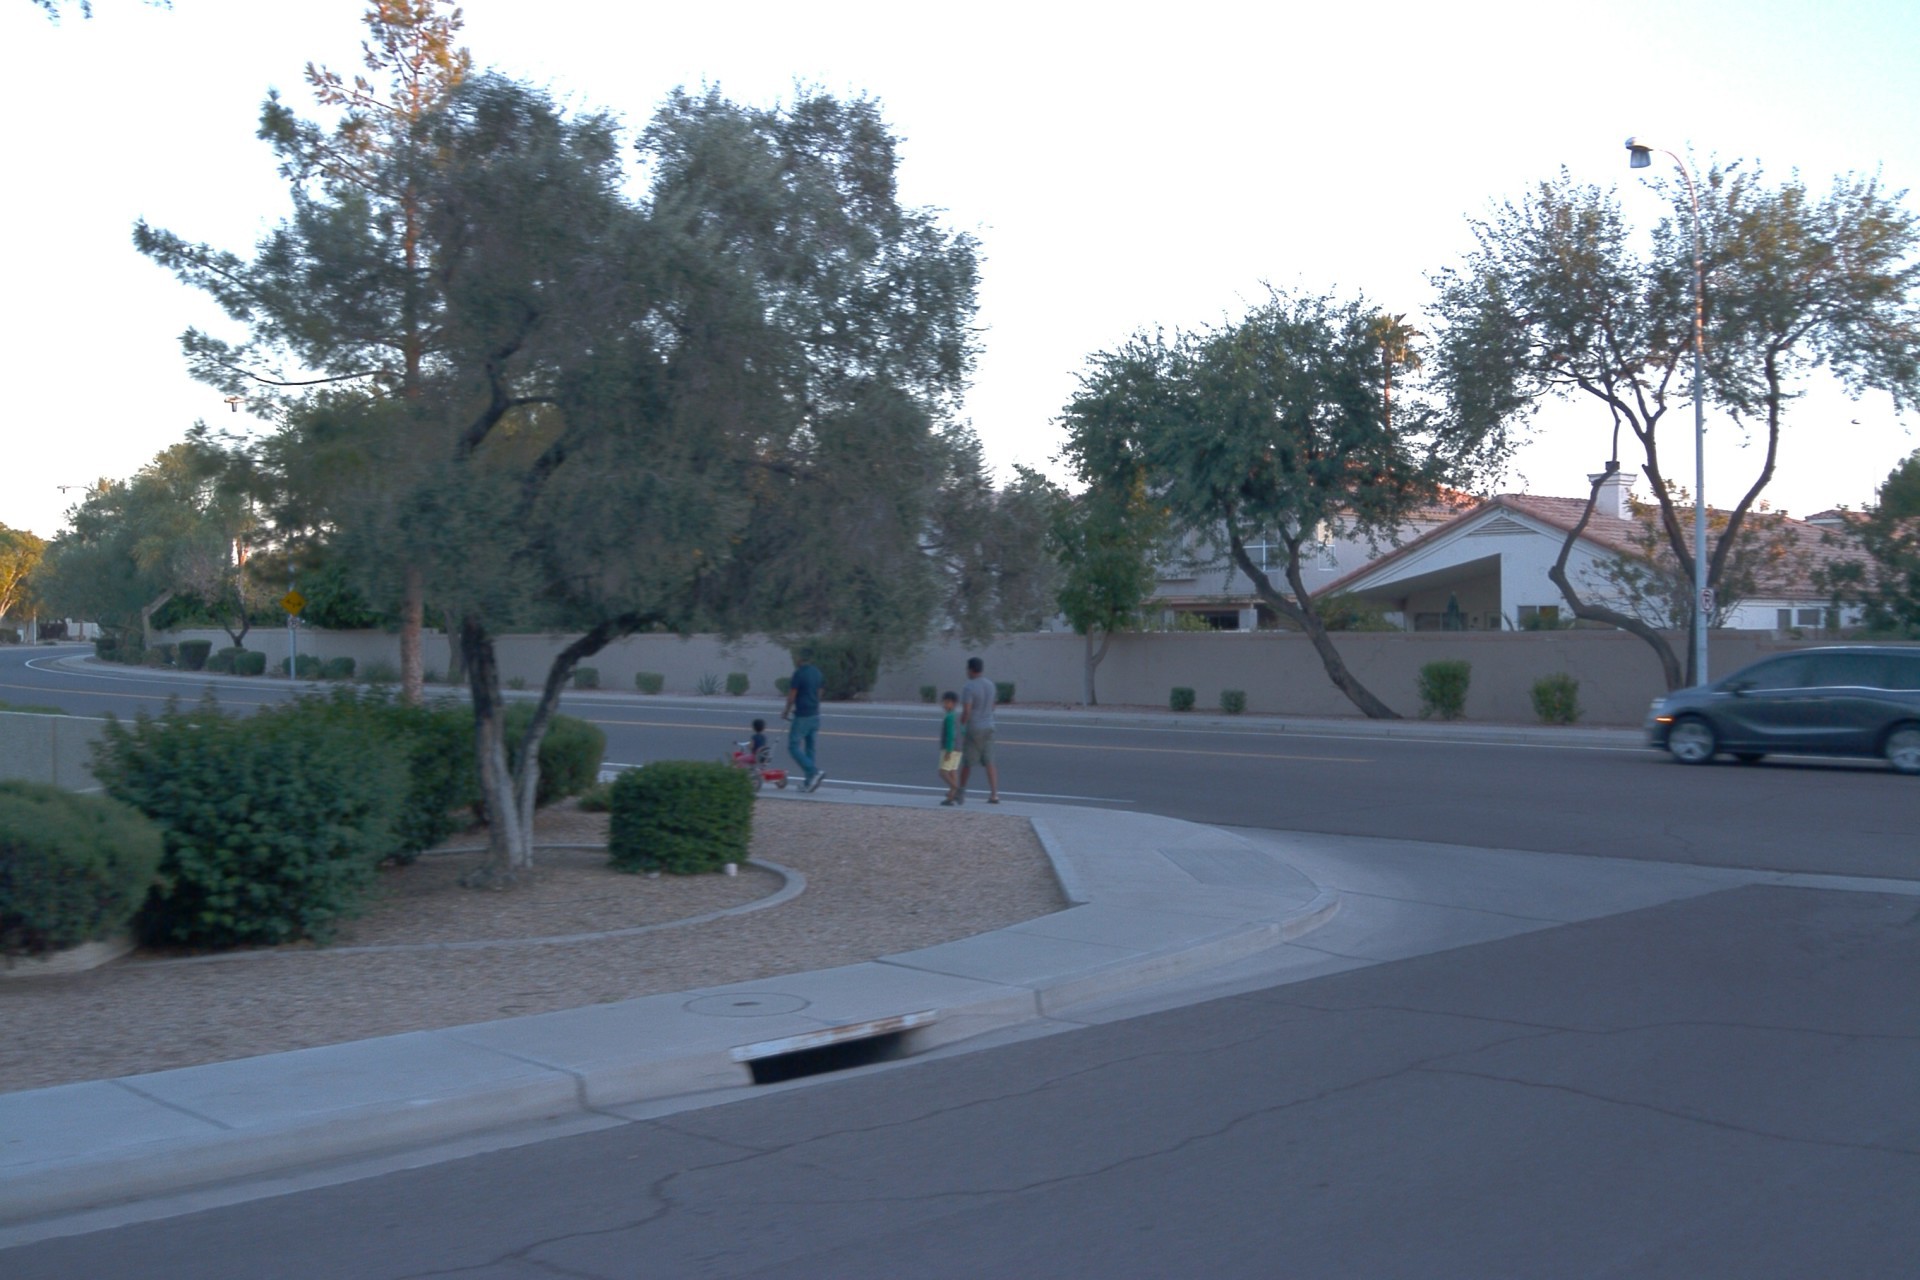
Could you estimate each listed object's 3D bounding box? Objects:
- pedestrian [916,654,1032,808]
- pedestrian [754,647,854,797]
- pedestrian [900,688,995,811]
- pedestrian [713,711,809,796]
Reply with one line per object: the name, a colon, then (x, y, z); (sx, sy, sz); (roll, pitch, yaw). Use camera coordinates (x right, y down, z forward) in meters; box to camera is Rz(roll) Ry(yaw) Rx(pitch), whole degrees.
pedestrian: (0.156, 1.012, 23.668); (0.910, 1.690, 0.944); (0, 1, -43)
pedestrian: (-1.913, 0.985, 25.371); (0.923, 1.780, 0.781); (1, 1, 41)
pedestrian: (-0.141, 1.206, 23.068); (0.748, 1.300, 0.742); (0, 1, -39)
pedestrian: (-2.481, 1.402, 25.817); (1.055, 0.980, 0.634); (1, 1, 41)
